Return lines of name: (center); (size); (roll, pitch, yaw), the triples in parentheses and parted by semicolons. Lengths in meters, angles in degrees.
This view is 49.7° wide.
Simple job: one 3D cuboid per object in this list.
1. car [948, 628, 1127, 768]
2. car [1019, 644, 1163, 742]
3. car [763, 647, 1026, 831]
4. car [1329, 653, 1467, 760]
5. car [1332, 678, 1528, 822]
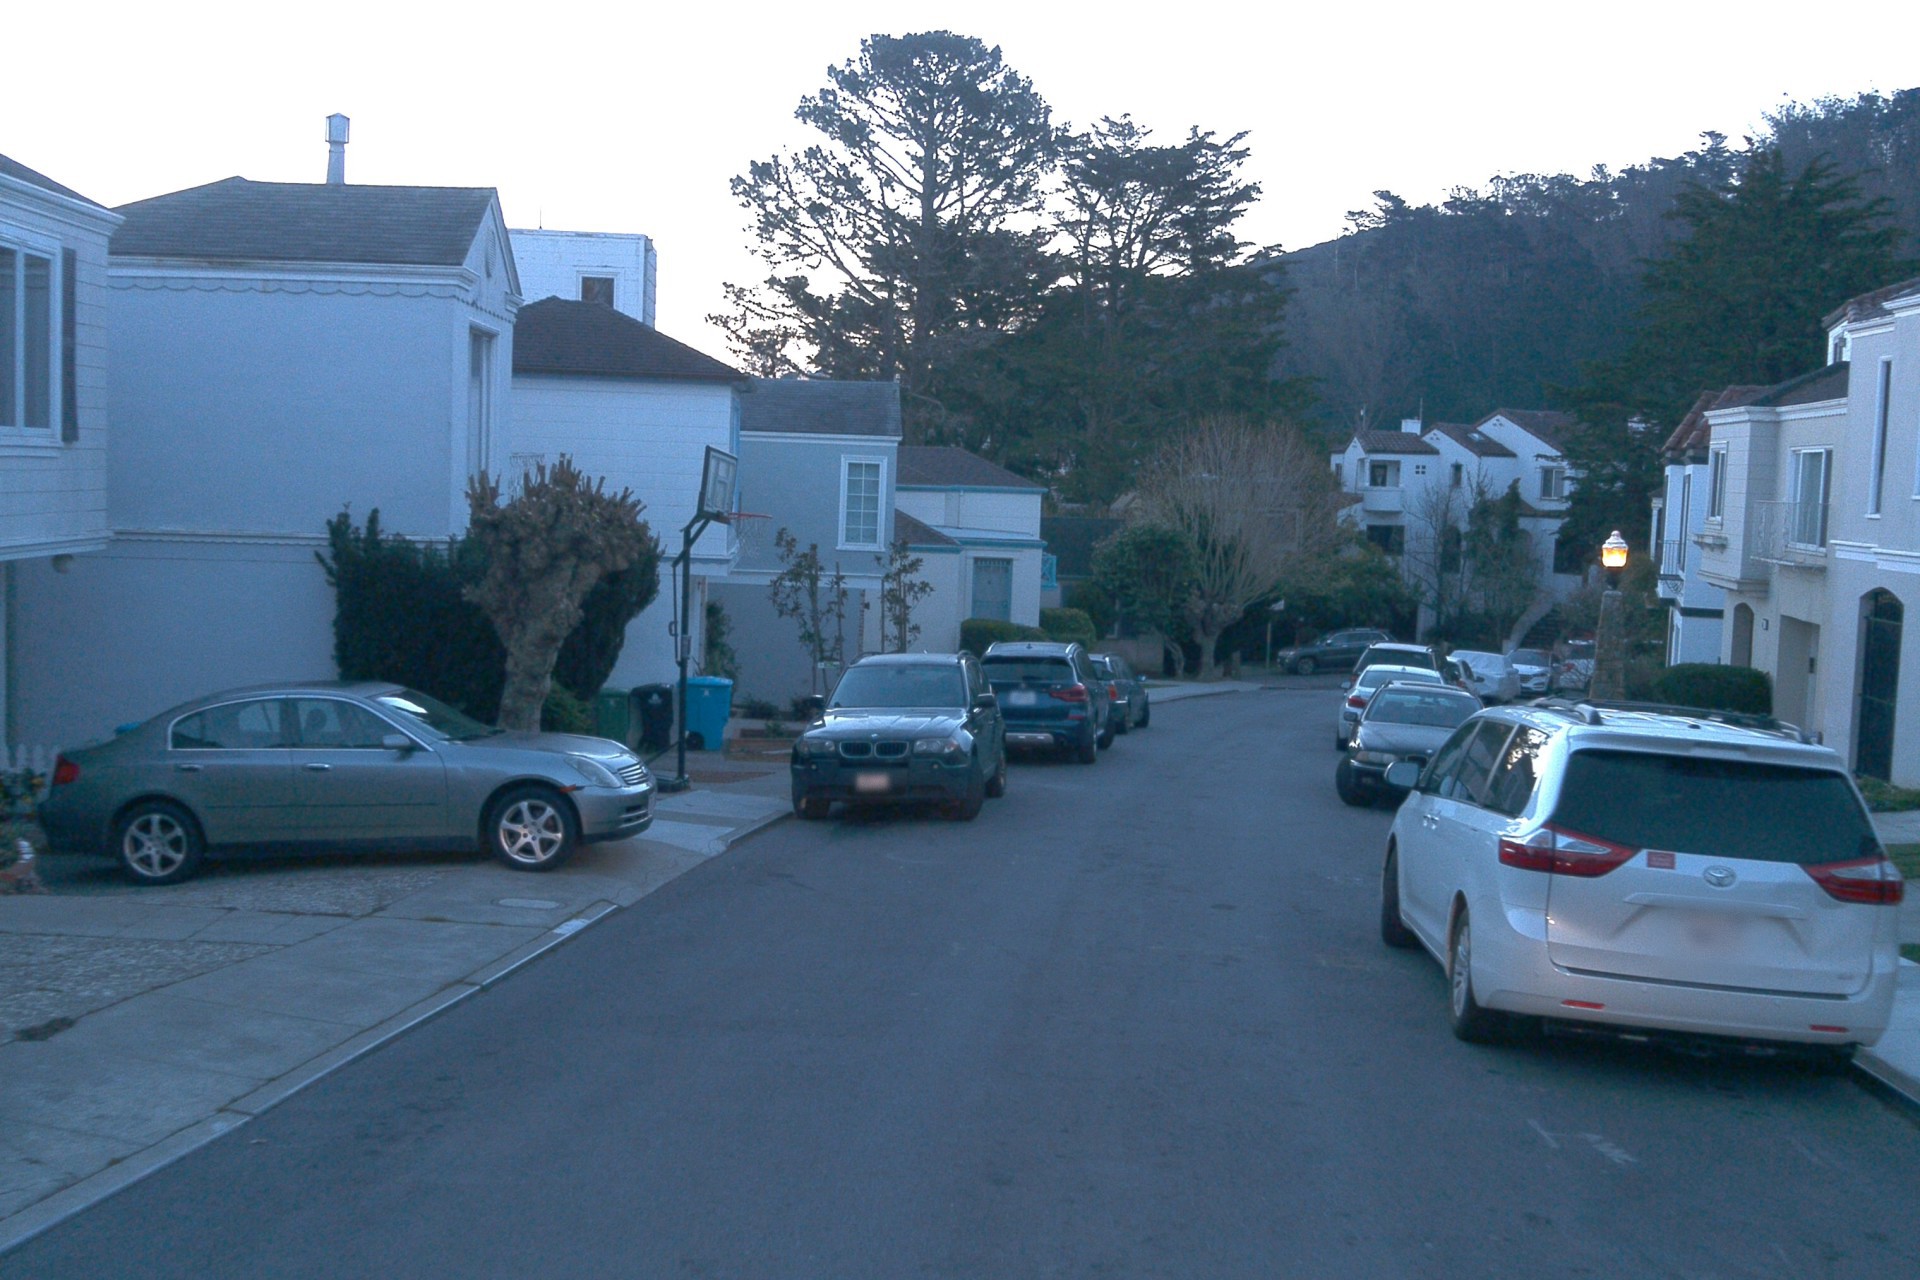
car: (1.217, 0.784, 30.022); (2.210, 1.870, 4.683); (0, 0, 7)
car: (2.412, 0.896, 36.967); (1.919, 1.640, 4.462); (0, 0, 12)
car: (-0.562, 0.954, 22.040); (2.095, 1.740, 4.526); (0, 0, 7)
car: (7.436, 1.047, 34.805); (2.107, 1.660, 4.900); (0, 0, 14)
car: (5.691, 1.259, 25.393); (2.125, 1.520, 4.899); (0, 0, 11)
